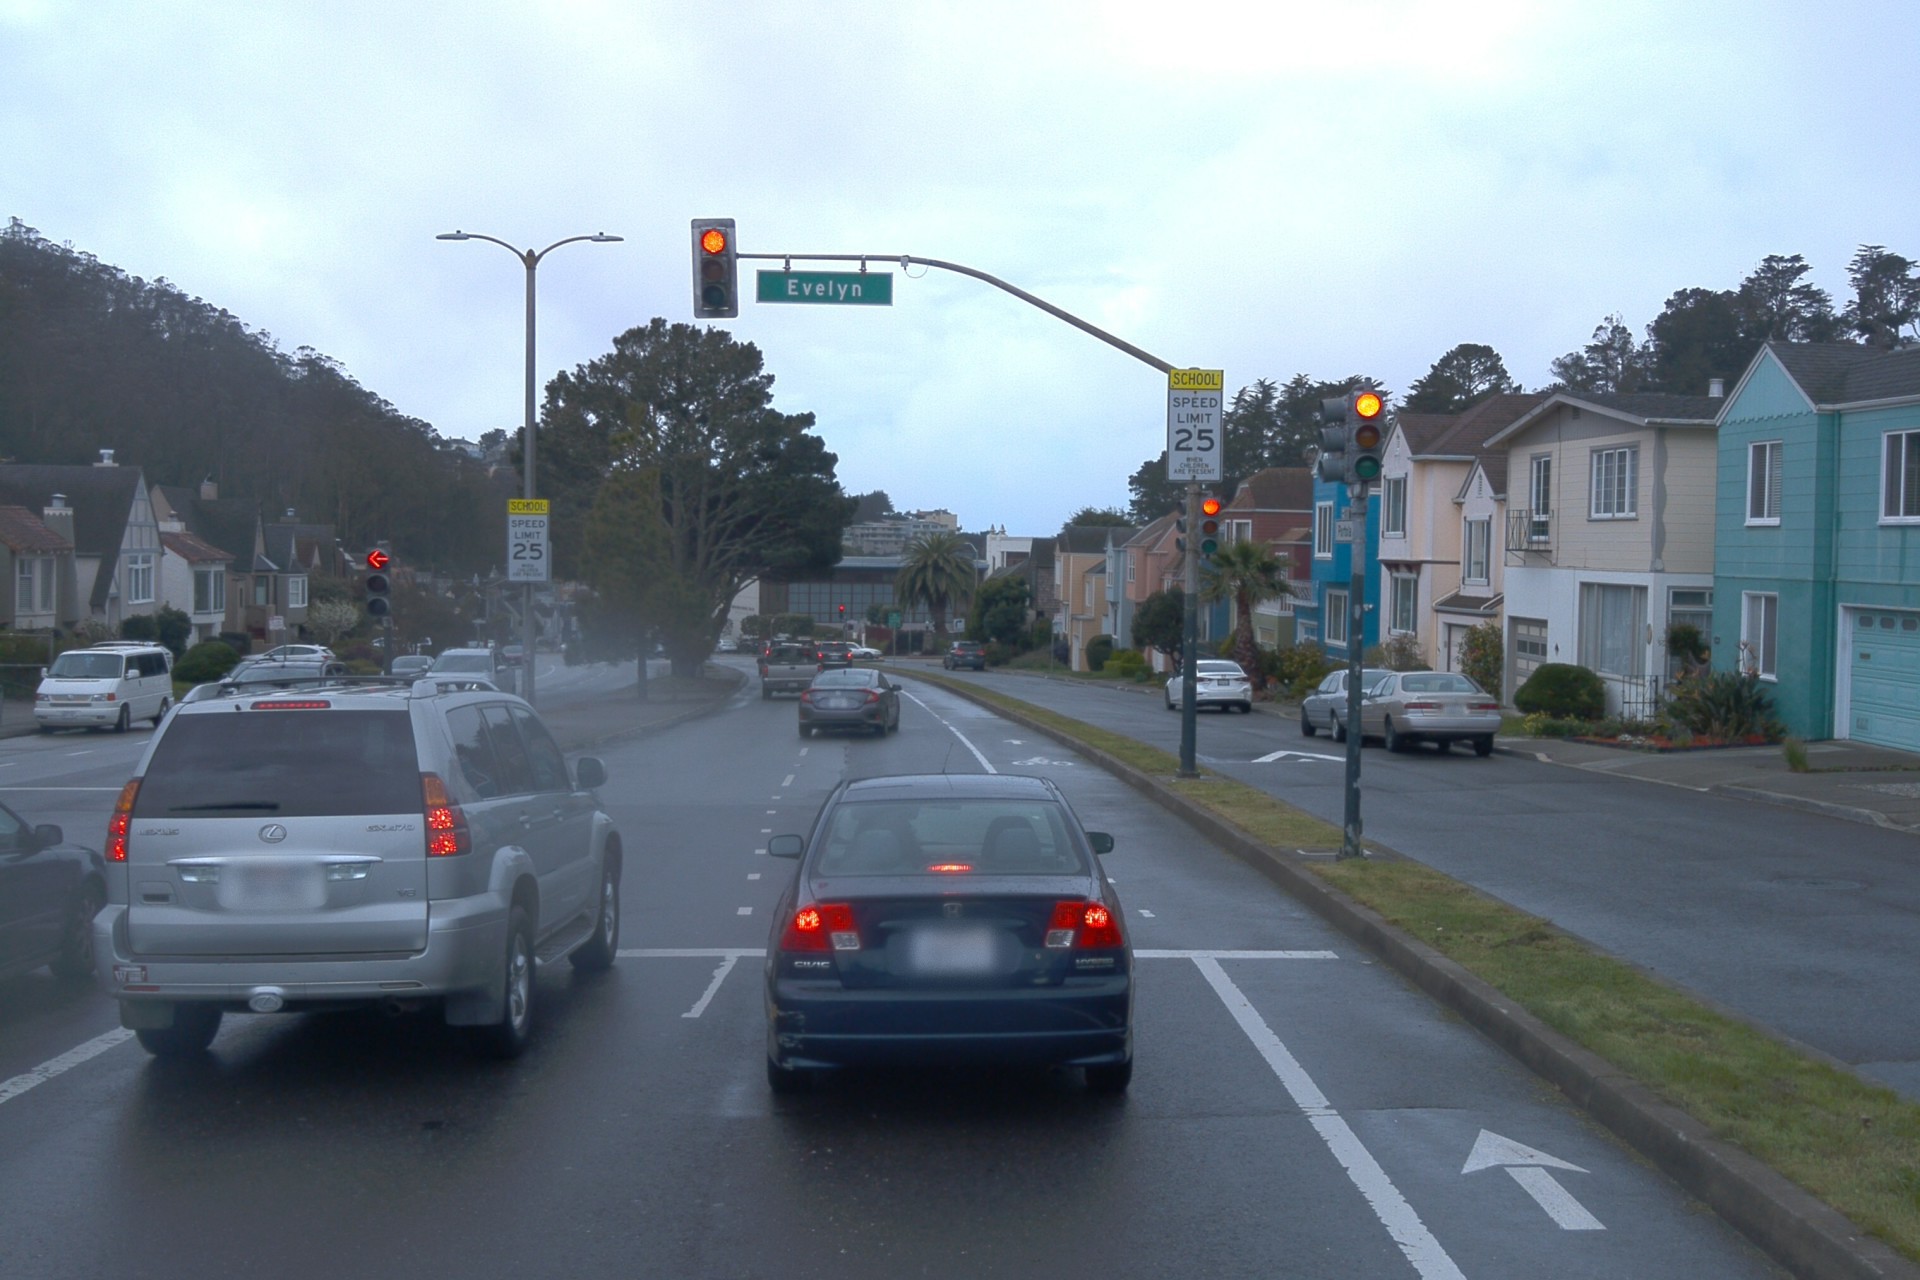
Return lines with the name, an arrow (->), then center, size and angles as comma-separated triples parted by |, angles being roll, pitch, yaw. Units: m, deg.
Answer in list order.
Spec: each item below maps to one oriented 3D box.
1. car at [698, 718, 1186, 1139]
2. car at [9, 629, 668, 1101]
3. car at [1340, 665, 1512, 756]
car -> -0.115, 1.264, 10.563 | 2.004, 1.570, 4.164 | 0, 0, -1
car -> -3.059, 0.986, 11.414 | 2.249, 2.070, 4.734 | 0, 0, -1
car -> 8.081, 1.190, 36.133 | 1.755, 1.440, 4.469 | 0, 0, -4
